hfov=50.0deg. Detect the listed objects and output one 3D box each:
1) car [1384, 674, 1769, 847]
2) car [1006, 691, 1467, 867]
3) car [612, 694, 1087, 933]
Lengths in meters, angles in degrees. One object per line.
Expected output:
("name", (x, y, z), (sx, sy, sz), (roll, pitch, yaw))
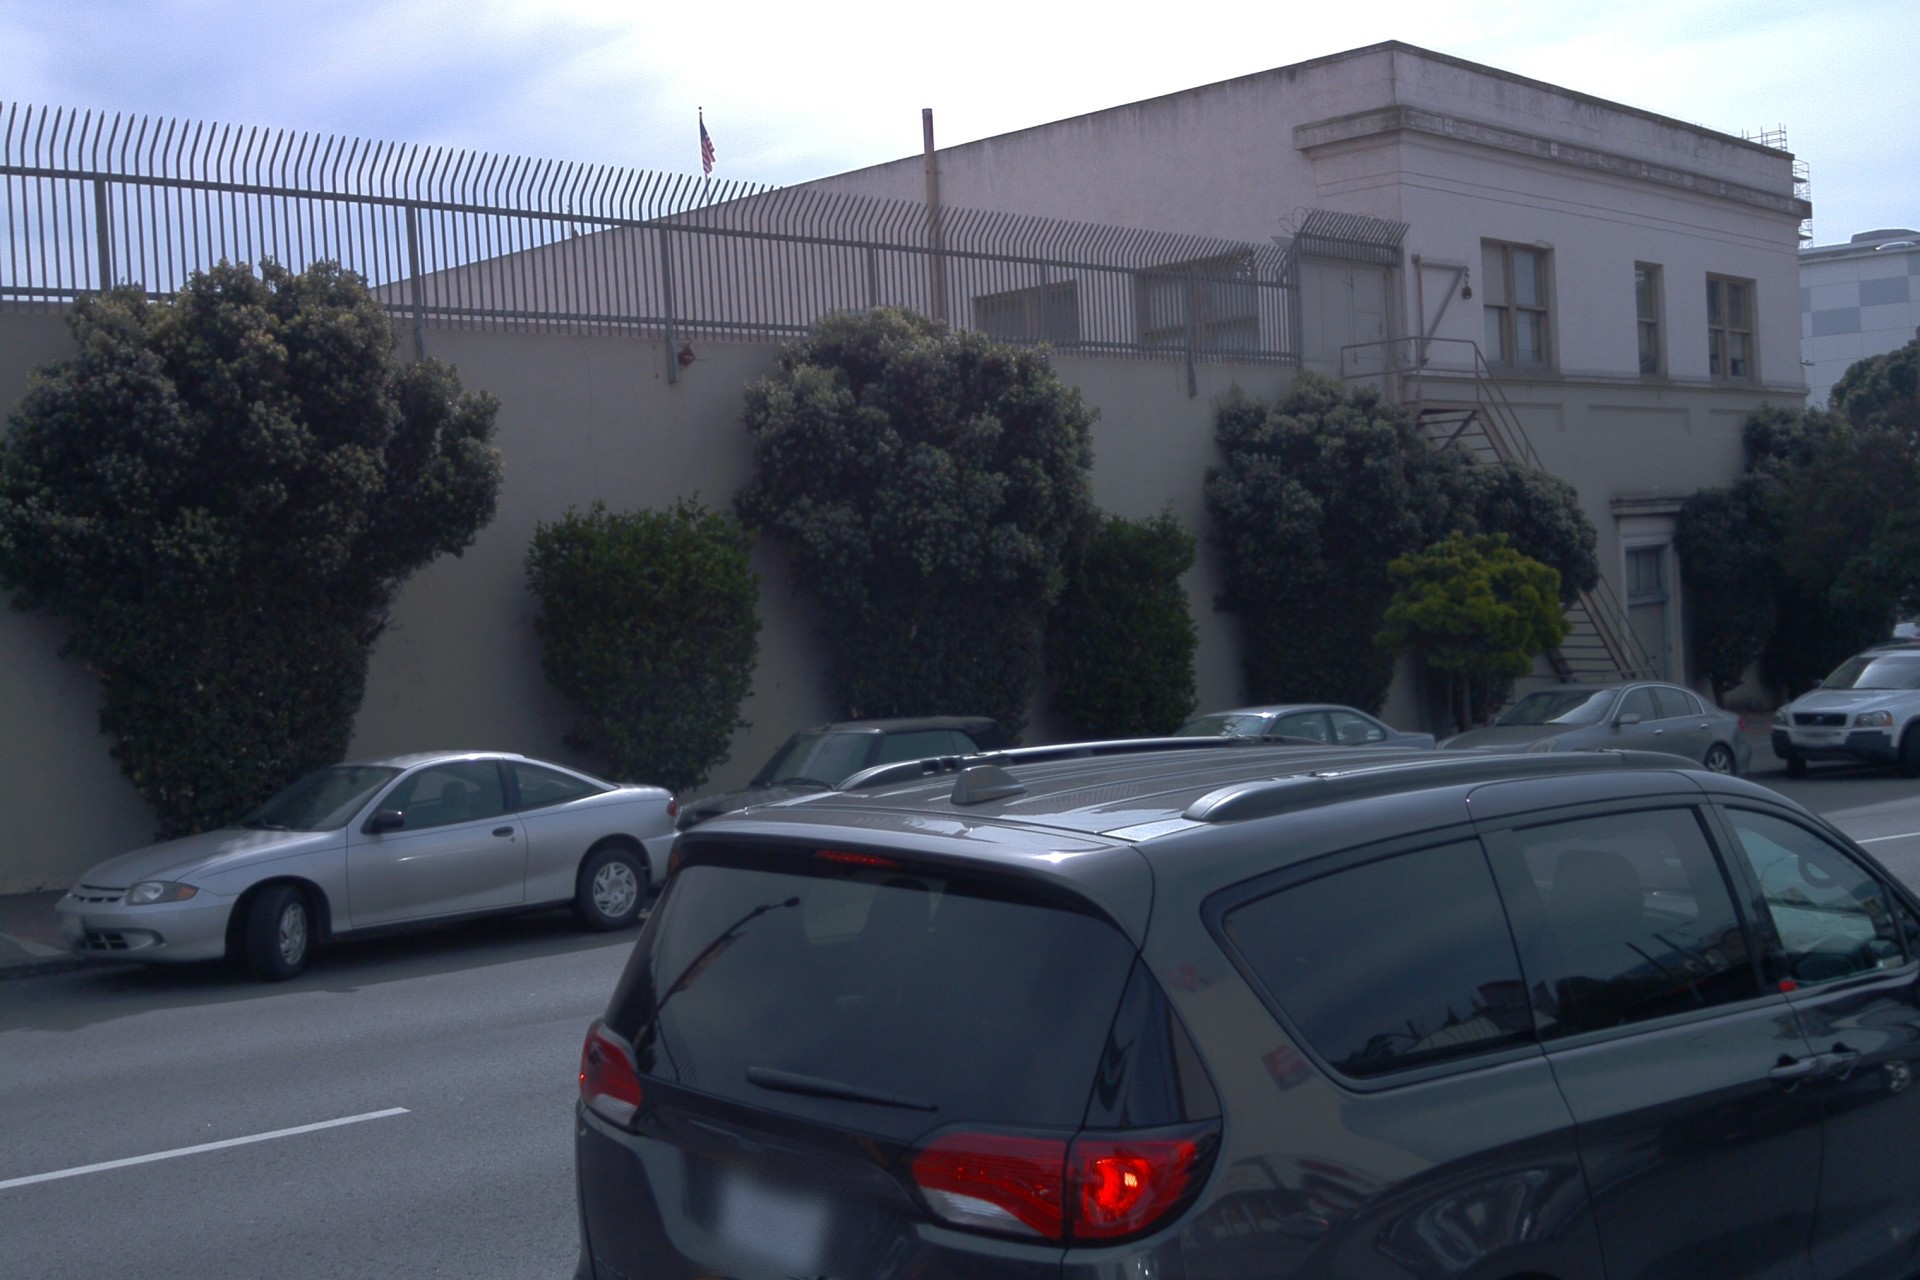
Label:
("car", (7.183, 1.300, 23.720), (4.687, 1.660, 2.019), (-1, 1, -40))
("car", (2.819, 1.294, 20.488), (4.448, 1.390, 2.035), (-1, 1, -39))
("car", (-0.844, 1.336, 17.176), (1.796, 1.600, 3.729), (1, 1, 44))
